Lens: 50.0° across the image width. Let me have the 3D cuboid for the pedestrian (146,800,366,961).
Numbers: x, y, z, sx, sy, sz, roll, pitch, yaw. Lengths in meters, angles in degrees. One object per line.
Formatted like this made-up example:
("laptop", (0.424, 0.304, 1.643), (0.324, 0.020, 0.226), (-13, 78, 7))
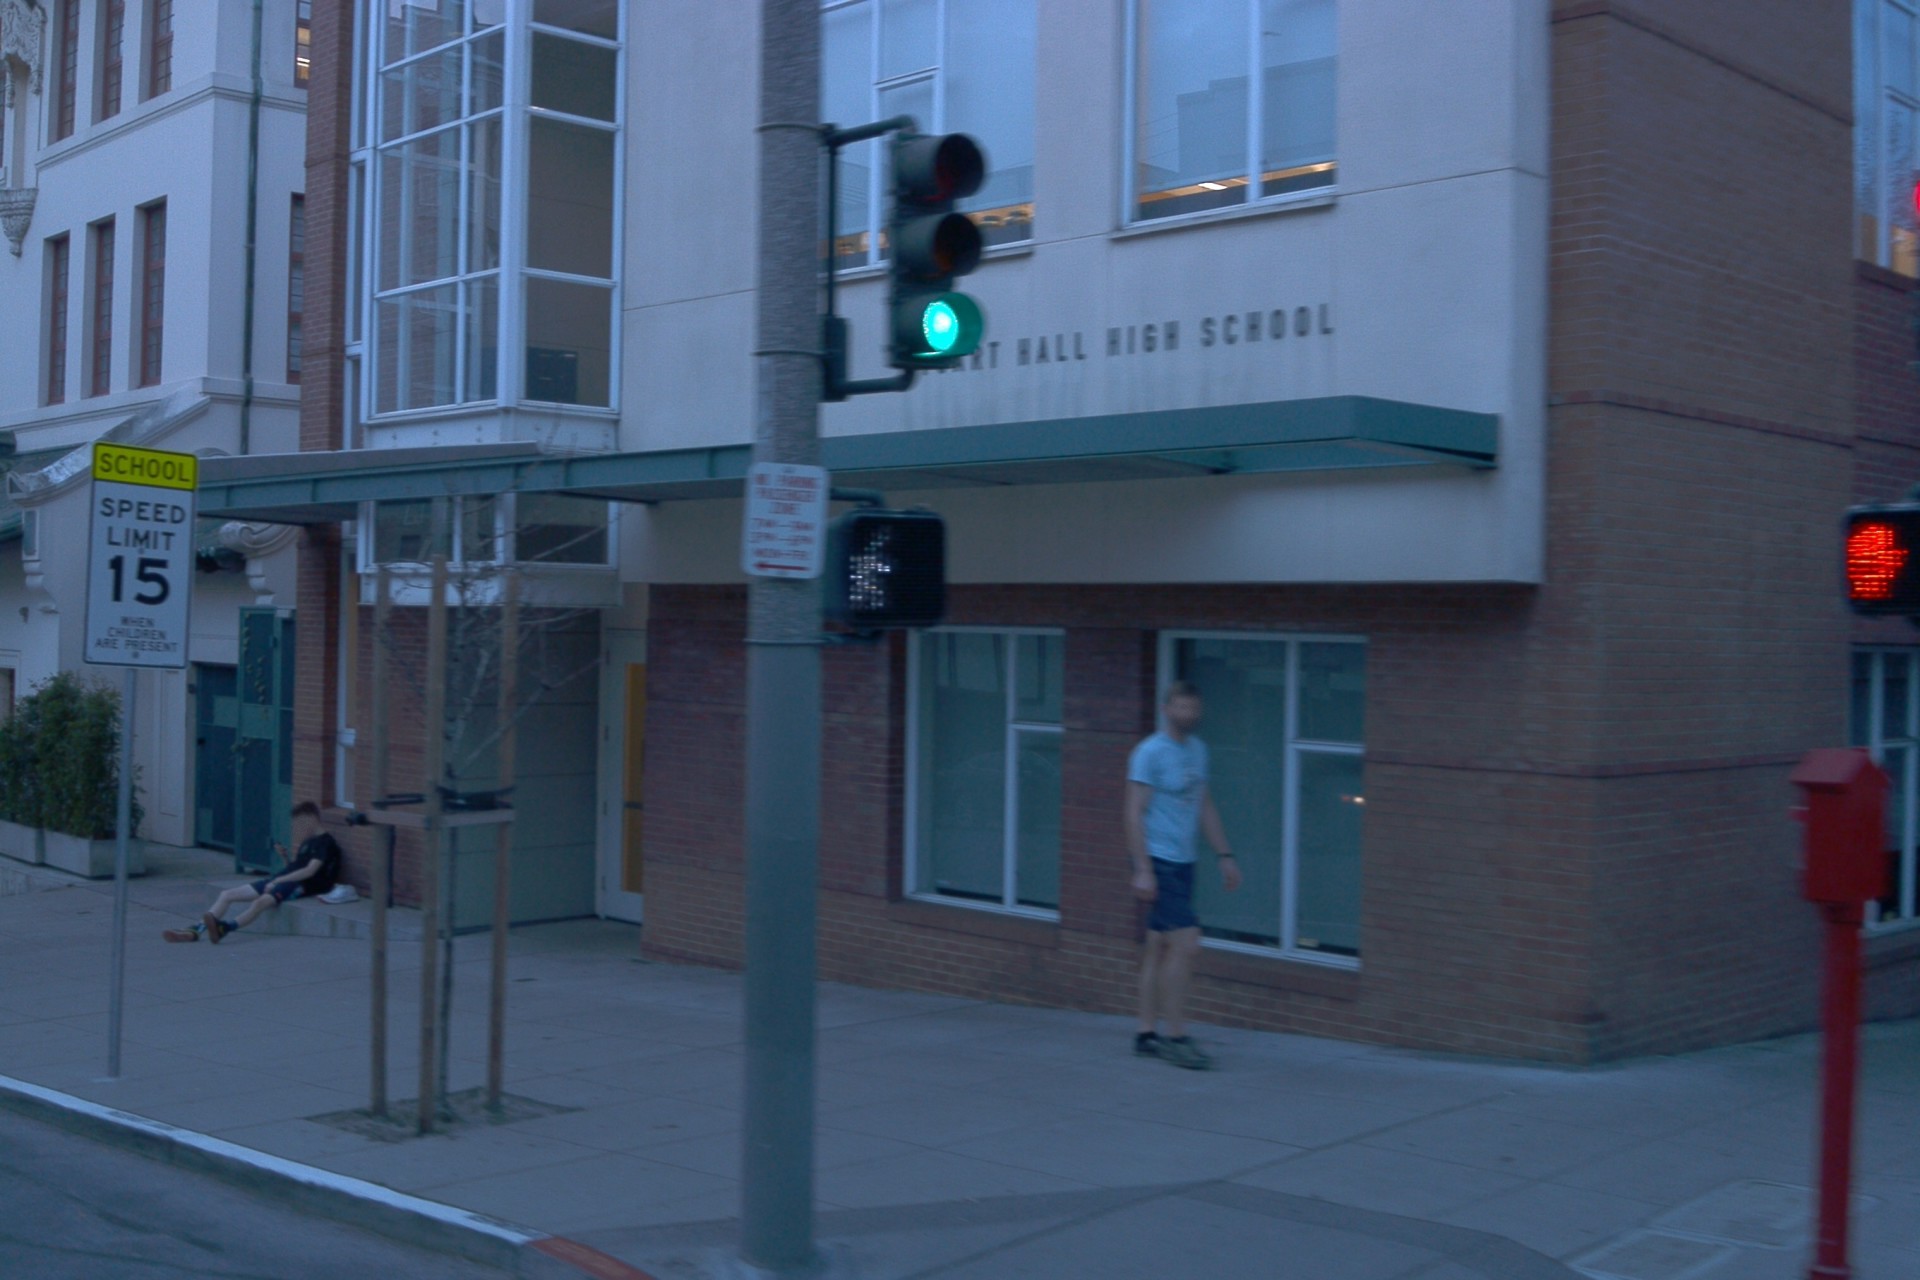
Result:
("pedestrian", (-6.258, 2.105, 18.316), (1.091, 1.200, 1.523), (1, 1, 45))

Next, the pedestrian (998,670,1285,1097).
("pedestrian", (0.927, 1.181, 10.595), (1.187, 2.020, 0.834), (1, 1, 43))
